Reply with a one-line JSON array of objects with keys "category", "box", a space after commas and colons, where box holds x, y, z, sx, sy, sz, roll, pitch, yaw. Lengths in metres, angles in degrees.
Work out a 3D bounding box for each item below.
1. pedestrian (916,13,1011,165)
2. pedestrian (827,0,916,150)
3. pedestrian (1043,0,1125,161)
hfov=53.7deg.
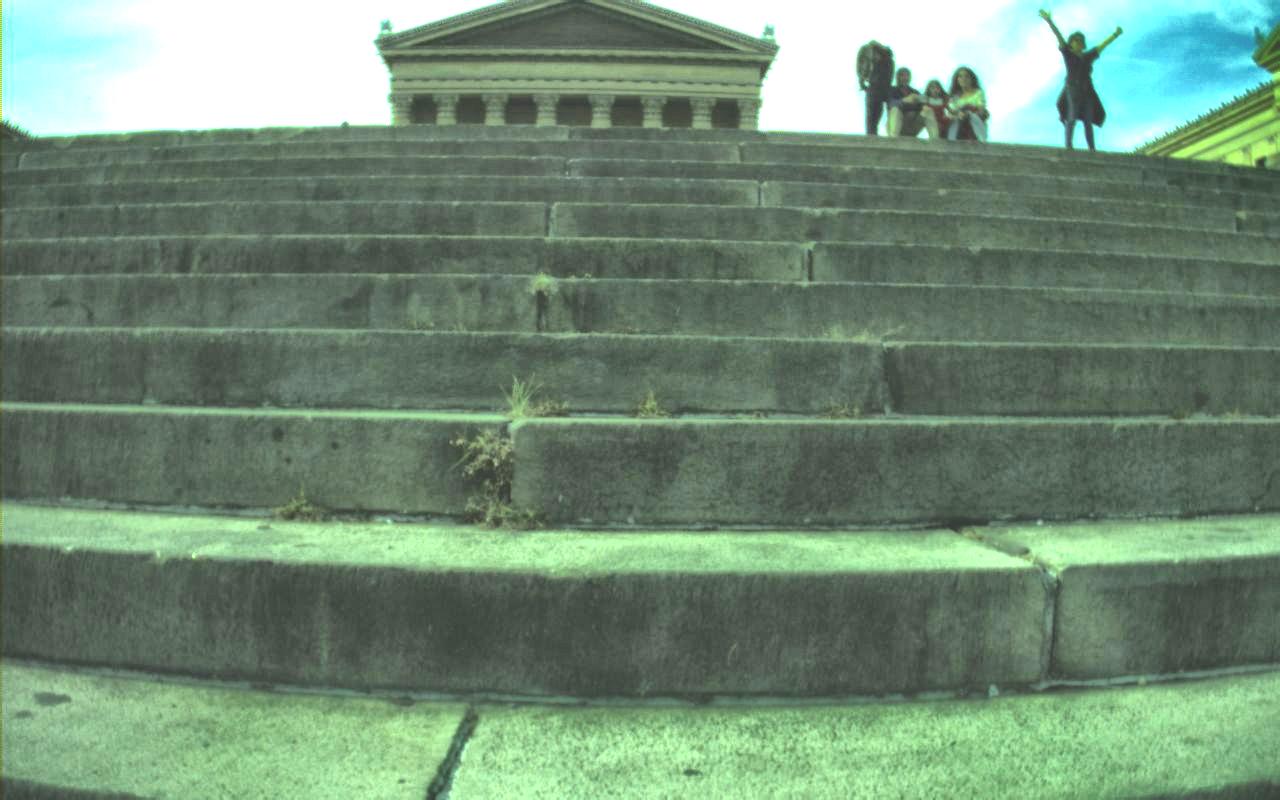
[{"category": "pedestrian", "box": [3.533, -3.383, 13.226, 0.818, 1.522, 0.729, 0, 0, -4]}, {"category": "pedestrian", "box": [2.506, -3.581, 13.263, 0.665, 1.633, 0.690, 0, 0, -22]}, {"category": "pedestrian", "box": [5.362, -3.857, 14.180, 0.699, 1.894, 0.685, 0, 0, -7]}]
